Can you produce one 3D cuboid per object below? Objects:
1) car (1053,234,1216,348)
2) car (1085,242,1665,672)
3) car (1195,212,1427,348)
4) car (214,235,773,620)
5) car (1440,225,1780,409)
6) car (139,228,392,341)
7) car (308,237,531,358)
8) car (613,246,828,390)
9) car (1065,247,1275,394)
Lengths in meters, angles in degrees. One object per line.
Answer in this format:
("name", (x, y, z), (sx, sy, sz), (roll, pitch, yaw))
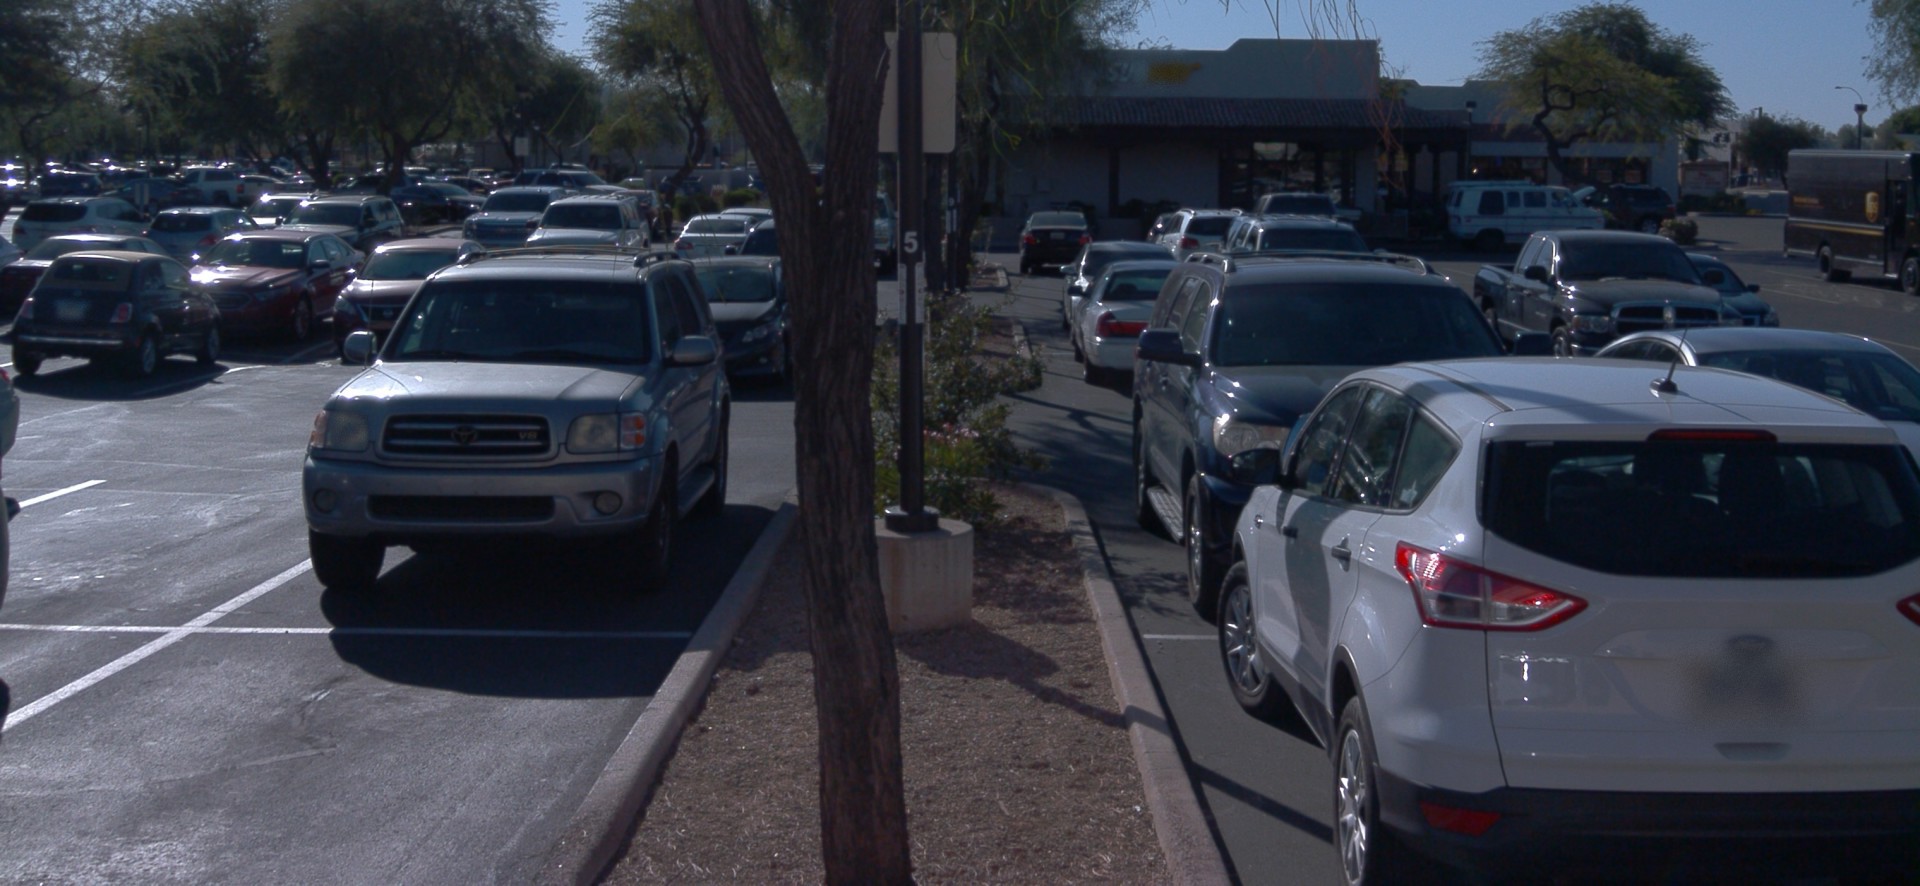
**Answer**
("car", (2.557, -2.368, 31.471), (2.127, 1.553, 4.507), (1, 6, 0))
("car", (2.219, -0.173, 12.866), (2.497, 2.061, 5.138), (1, 5, -1))
("car", (5.276, -2.585, 32.021), (2.482, 1.891, 5.237), (0, 5, -3))
("car", (-2.662, -0.336, 13.388), (2.382, 1.941, 5.207), (1, 5, 0))
("car", (7.970, -1.719, 26.210), (2.523, 2.021, 5.784), (1, 6, 0))
("car", (-10.473, -2.493, 31.740), (2.086, 1.562, 4.913), (1, 6, 2))
("car", (-7.867, -2.215, 30.652), (2.010, 1.593, 4.474), (1, 5, 2))
("car", (-2.842, -1.620, 25.661), (2.083, 1.543, 4.565), (1, 6, 0))
("car", (2.494, -1.617, 25.917), (2.256, 1.562, 5.128), (1, 6, 2))
